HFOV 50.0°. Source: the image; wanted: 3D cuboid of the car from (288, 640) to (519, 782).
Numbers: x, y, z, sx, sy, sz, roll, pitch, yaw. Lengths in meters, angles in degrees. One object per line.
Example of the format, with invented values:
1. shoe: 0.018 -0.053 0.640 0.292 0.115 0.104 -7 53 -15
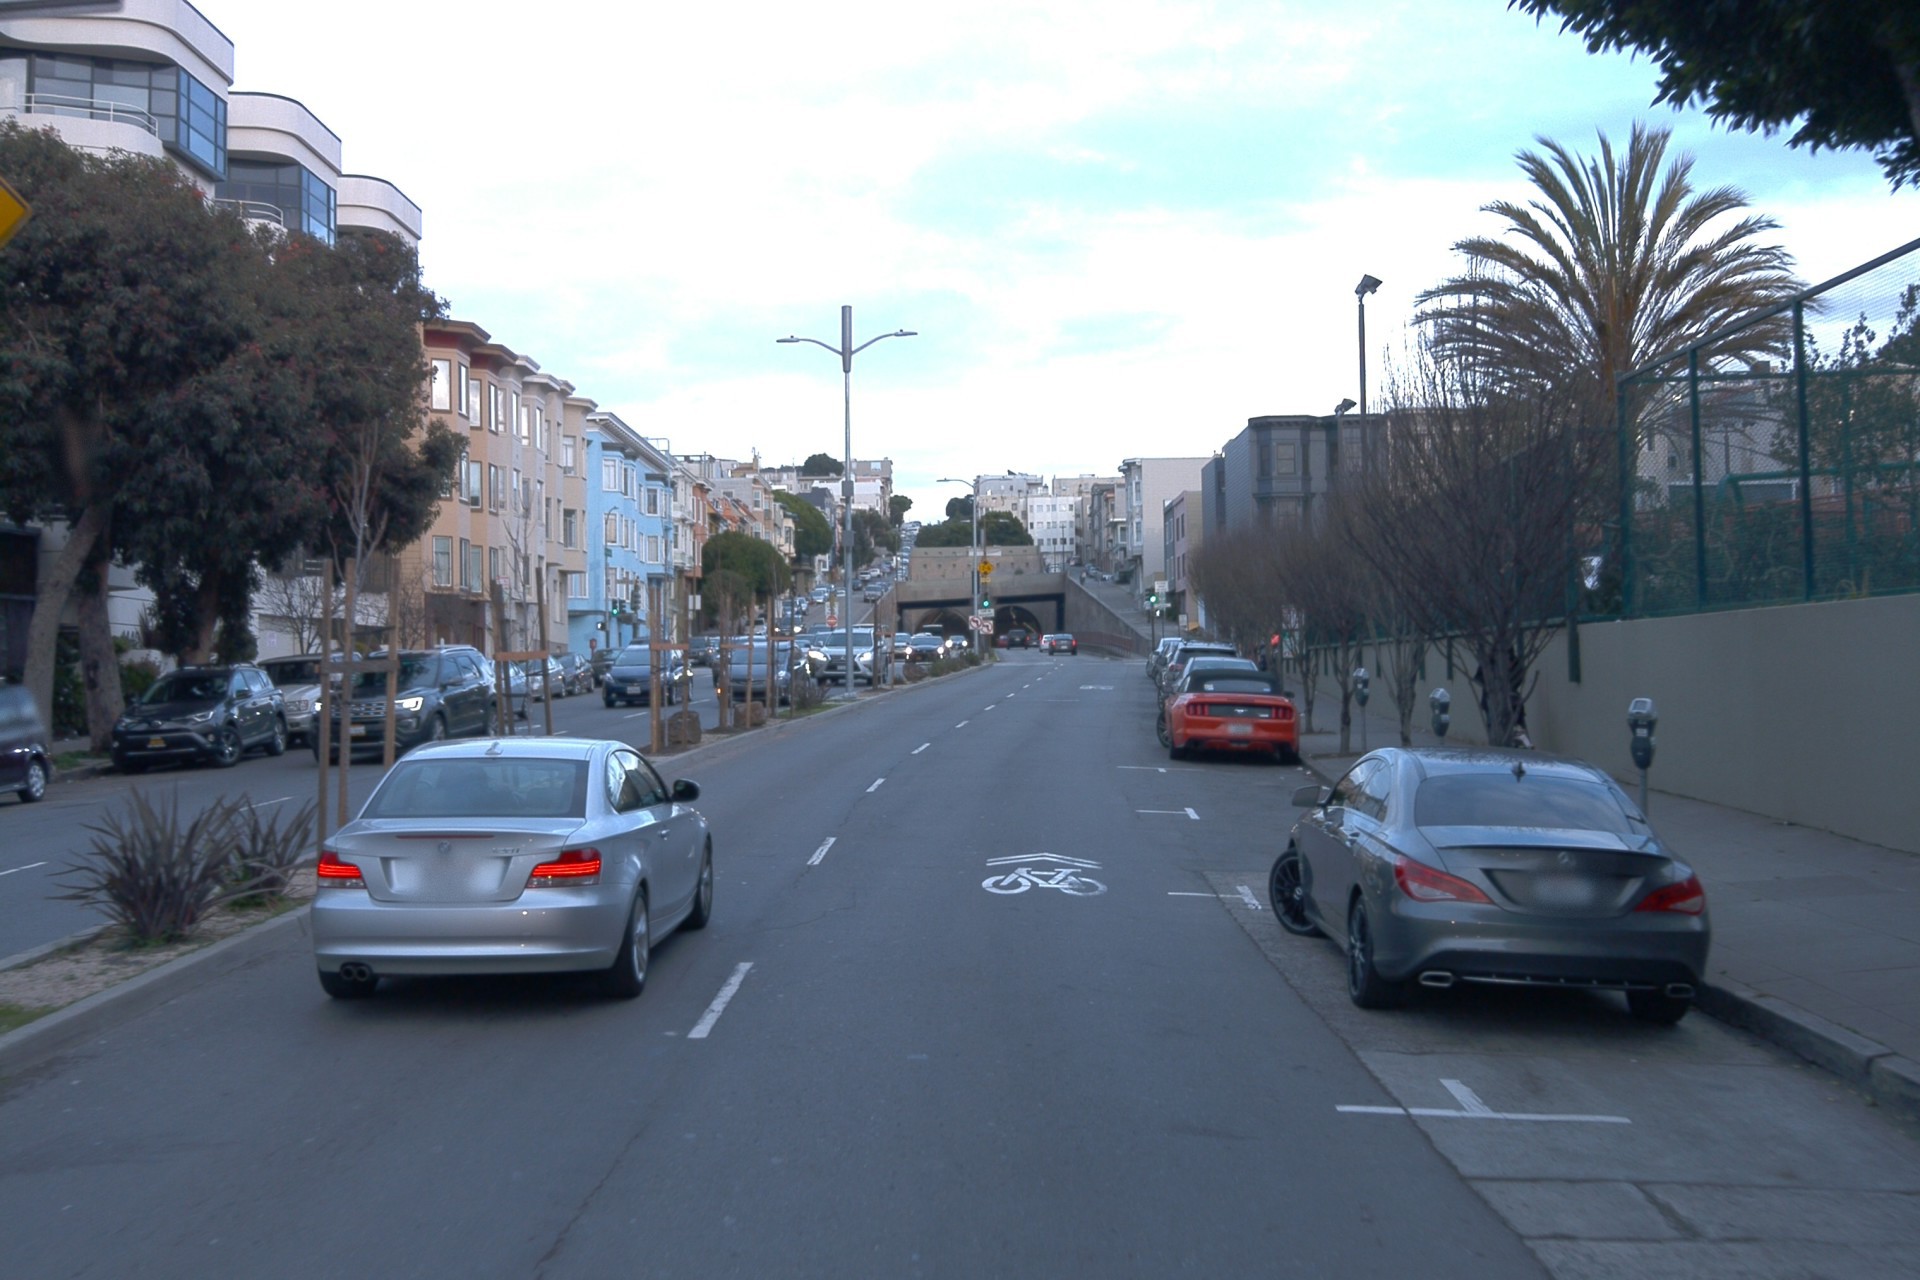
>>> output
1. car: -8.995 1.075 33.823 2.168 2.090 5.088 1 1 3

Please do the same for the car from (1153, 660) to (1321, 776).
1. car: 4.231 1.153 32.239 2.198 1.560 4.826 1 1 3

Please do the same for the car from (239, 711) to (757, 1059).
1. car: -2.542 1.301 12.570 2.031 1.520 4.456 1 1 2

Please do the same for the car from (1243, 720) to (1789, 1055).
1. car: 3.132 1.340 12.815 2.171 1.420 4.848 1 1 1

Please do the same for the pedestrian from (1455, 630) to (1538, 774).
1. pedestrian: 7.014 0.793 26.985 0.814 1.837 1.061 1 0 1

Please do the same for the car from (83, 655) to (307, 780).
1. car: -12.744 1.239 34.663 2.074 1.870 4.529 1 1 0
